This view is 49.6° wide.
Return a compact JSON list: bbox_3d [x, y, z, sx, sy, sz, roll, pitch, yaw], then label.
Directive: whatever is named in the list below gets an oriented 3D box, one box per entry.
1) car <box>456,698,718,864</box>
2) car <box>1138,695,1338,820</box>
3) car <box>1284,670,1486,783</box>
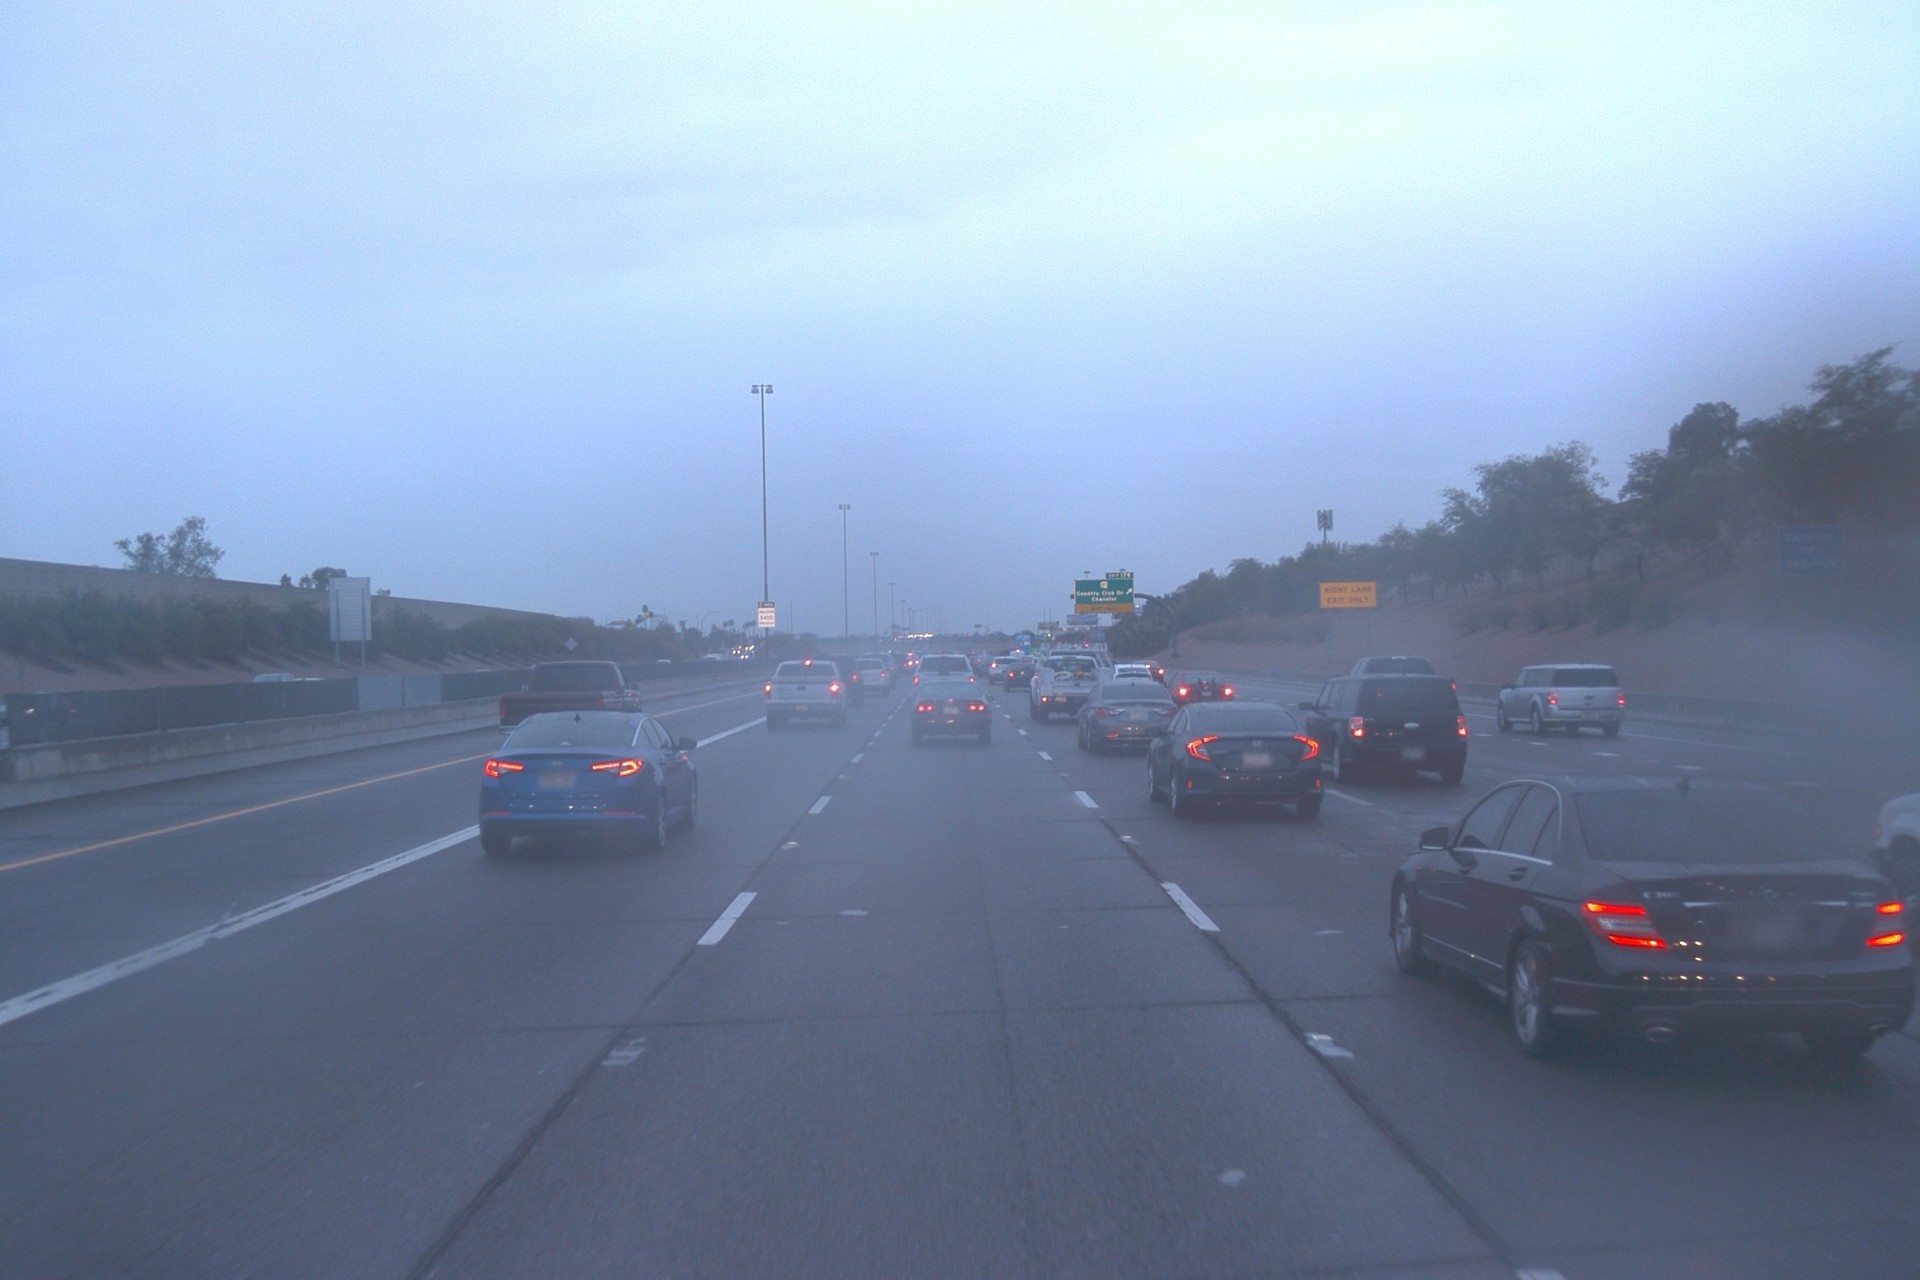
[{"bbox_3d":[-3.902,1.441,22.520,1.988,1.510,4.517,0,0,1],"label":"car"},{"bbox_3d":[3.483,1.453,26.794,1.973,1.380,4.335,0,0,0],"label":"car"},{"bbox_3d":[6.688,1.325,33.276,2.228,1.630,4.896,0,0,0],"label":"car"}]
